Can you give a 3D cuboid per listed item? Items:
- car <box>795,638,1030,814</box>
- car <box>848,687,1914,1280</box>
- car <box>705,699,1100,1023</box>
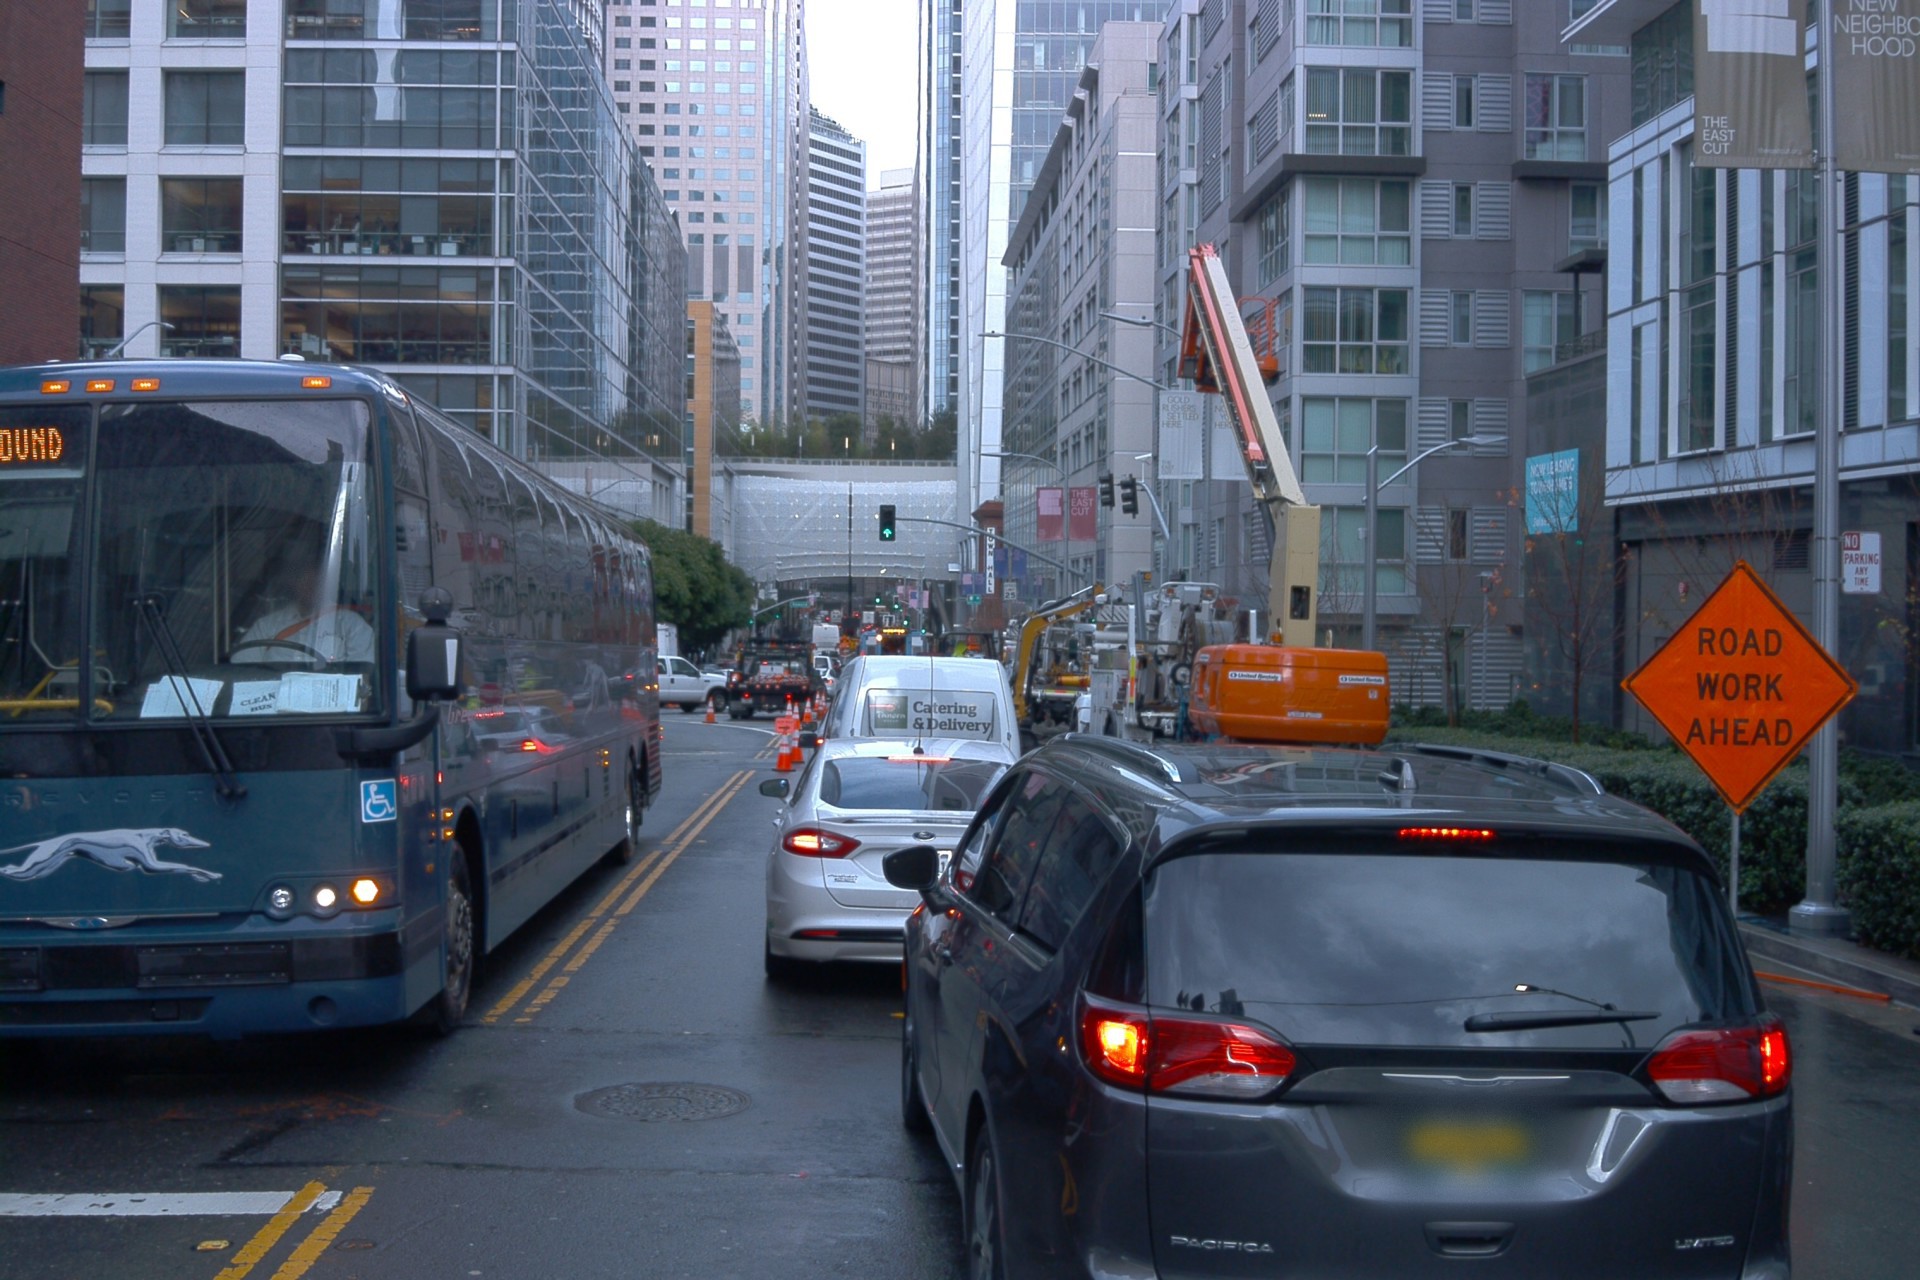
[{"bbox_3d":[-0.542,0.744,19.507,1.860,1.470,3.431,1,1,-7],"label":"car"},{"bbox_3d":[0.802,1.117,6.811,2.058,1.750,4.787,1,1,-6],"label":"car"},{"bbox_3d":[-0.378,1.291,13.826,2.164,1.580,4.901,1,1,-1],"label":"car"}]
